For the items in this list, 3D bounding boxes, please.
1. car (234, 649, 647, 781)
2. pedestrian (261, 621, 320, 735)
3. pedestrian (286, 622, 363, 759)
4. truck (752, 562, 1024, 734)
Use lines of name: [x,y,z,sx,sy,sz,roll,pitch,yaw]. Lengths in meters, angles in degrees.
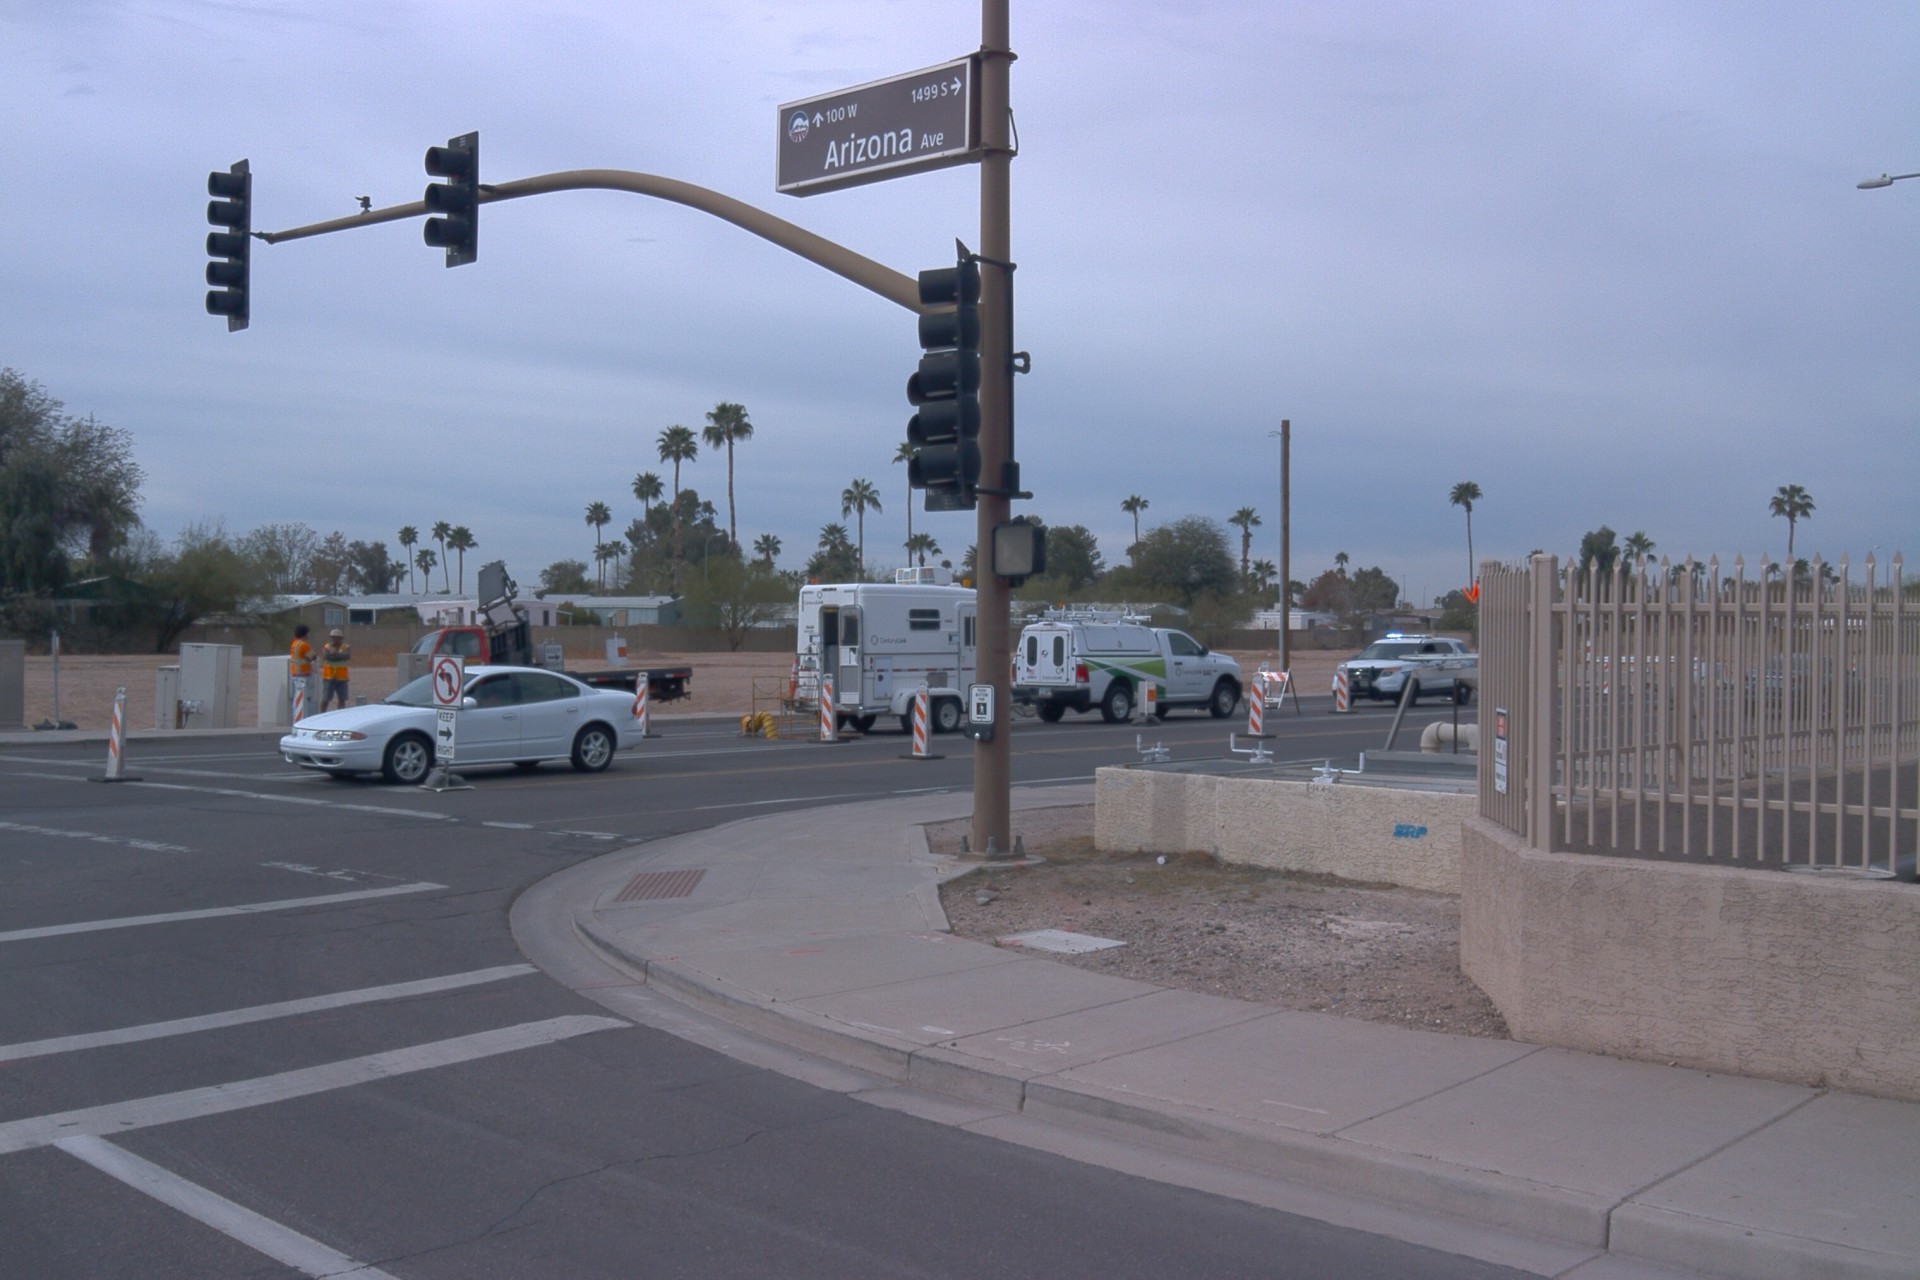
car: [-6.591,0.928,26.169,4.741,1.500,2.054,1,0,-45]
pedestrian: [-11.722,0.663,35.573,0.731,1.960,0.858,1,0,-34]
pedestrian: [-11.409,0.895,36.495,0.871,2.400,0.957,2,0,44]
truck: [-1.277,0.152,37.372,2.513,2.960,4.438,2,0,43]
